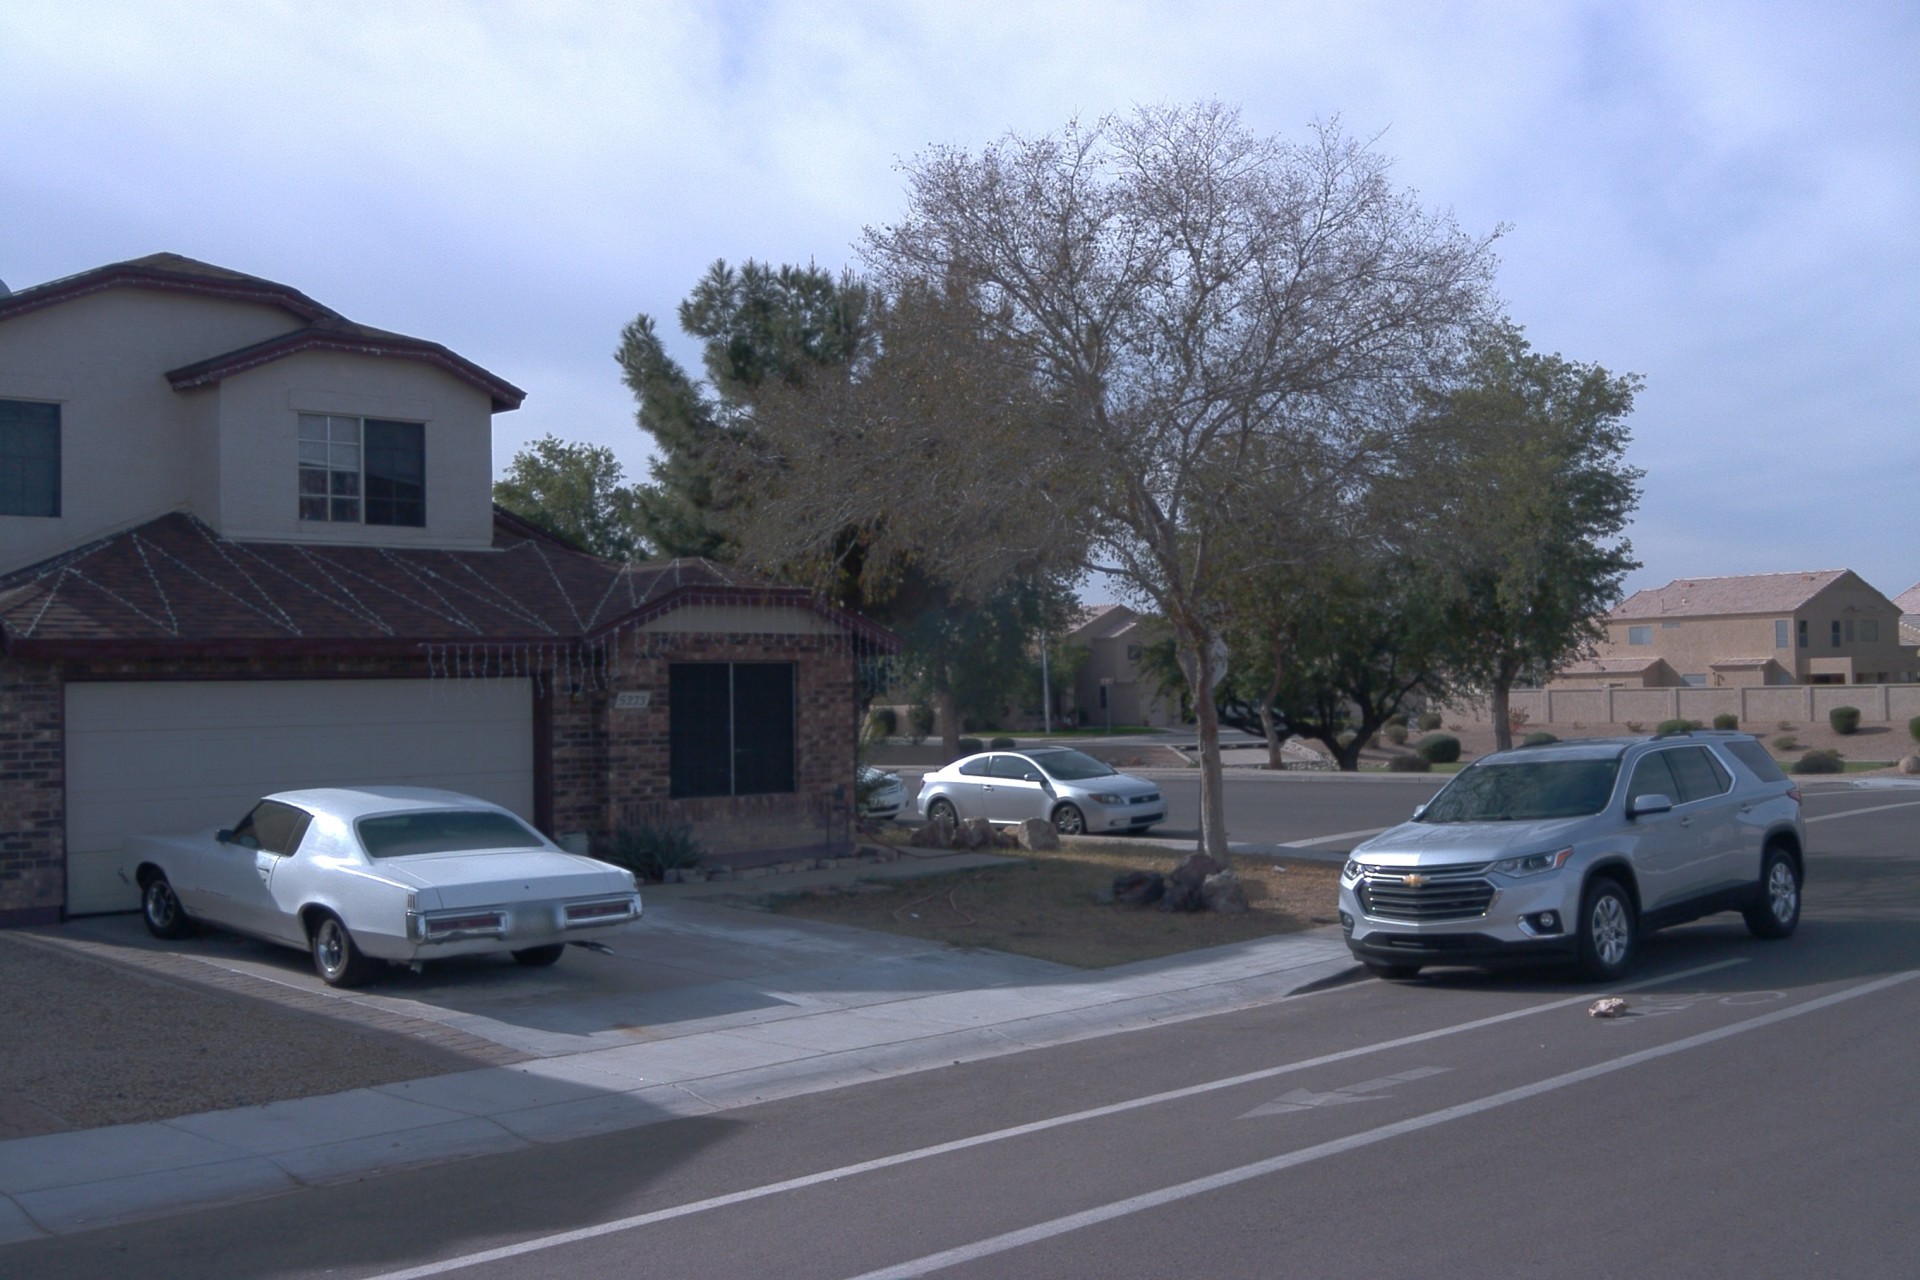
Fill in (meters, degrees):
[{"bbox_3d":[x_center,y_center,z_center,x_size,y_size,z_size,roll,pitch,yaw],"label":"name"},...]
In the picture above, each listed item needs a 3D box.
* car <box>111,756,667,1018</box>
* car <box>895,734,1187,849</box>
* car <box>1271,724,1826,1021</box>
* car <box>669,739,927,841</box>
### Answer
[{"bbox_3d":[-4.709,1.801,16.617,2.100,1.500,5.257,1,-1,-42],"label":"car"},{"bbox_3d":[1.243,2.359,33.435,4.427,1.550,2.068,0,-1,45],"label":"car"},{"bbox_3d":[4.927,1.699,16.963,2.247,1.890,5.093,0,-1,43],"label":"car"},{"bbox_3d":[-2.978,2.647,37.657,2.132,1.530,4.672,1,-1,-45],"label":"car"}]
